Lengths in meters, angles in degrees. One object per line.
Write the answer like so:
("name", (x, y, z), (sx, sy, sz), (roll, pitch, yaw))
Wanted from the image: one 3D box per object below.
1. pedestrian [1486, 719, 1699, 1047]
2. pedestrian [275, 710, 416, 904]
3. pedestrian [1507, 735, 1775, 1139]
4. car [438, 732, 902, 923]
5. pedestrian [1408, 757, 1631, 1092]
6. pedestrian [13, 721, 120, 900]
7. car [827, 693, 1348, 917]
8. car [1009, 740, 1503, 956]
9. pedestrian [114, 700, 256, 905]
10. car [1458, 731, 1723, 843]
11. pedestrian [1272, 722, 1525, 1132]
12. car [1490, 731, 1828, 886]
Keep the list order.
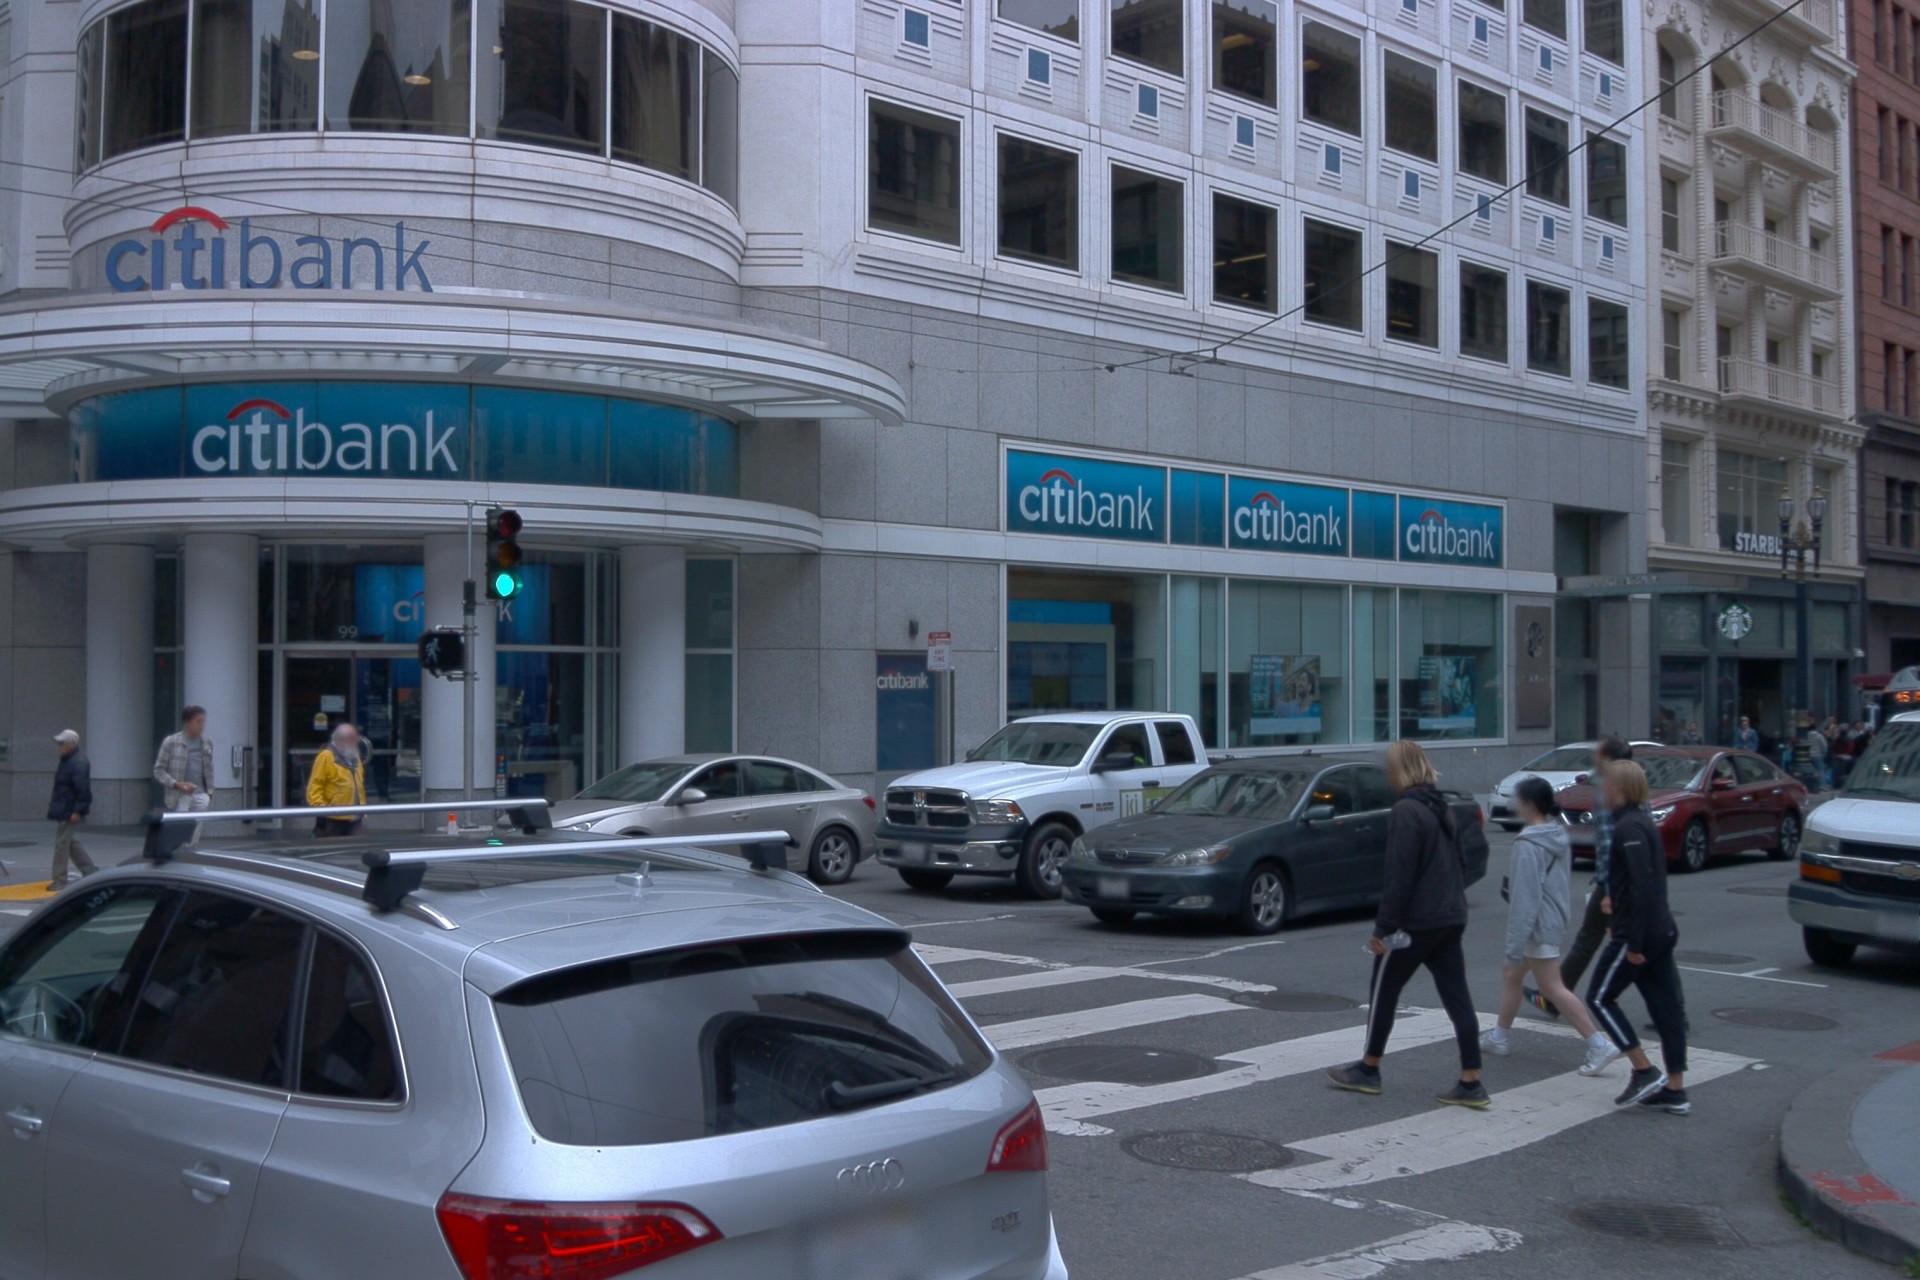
("pedestrian", (3.899, 1.446, 12.636), (0.998, 1.870, 0.814), (0, 0, 42))
("pedestrian", (-6.187, 1.646, 20.626), (1.223, 1.840, 0.834), (0, 0, 41))
("pedestrian", (3.473, 1.453, 10.464), (1.094, 1.870, 0.763), (0, 0, 40))
("car", (-2.983, 1.889, 21.838), (2.119, 1.590, 4.567), (0, 0, 44))
("pedestrian", (3.165, 1.558, 11.594), (0.933, 1.720, 0.865), (0, 0, 41))
("pedestrian", (-9.294, 1.750, 21.303), (0.800, 1.760, 0.796), (0, 0, -43))
("car", (1.552, 1.654, 22.553), (5.836, 1.990, 2.457), (0, 0, -44))
("car", (2.837, 1.776, 18.791), (2.065, 1.470, 4.829), (0, 0, 44))
("pedestrian", (-7.677, 1.573, 20.298), (1.197, 1.920, 0.823), (0, 0, 39))
("car", (10.671, 2.416, 34.559), (4.408, 1.570, 2.095), (0, 0, -37))
("pedestrian", (2.279, 1.430, 10.653), (1.032, 1.950, 0.796), (0, 0, 40))
("car", (8.711, 1.988, 25.292), (2.136, 1.500, 4.776), (0, 0, 44))
